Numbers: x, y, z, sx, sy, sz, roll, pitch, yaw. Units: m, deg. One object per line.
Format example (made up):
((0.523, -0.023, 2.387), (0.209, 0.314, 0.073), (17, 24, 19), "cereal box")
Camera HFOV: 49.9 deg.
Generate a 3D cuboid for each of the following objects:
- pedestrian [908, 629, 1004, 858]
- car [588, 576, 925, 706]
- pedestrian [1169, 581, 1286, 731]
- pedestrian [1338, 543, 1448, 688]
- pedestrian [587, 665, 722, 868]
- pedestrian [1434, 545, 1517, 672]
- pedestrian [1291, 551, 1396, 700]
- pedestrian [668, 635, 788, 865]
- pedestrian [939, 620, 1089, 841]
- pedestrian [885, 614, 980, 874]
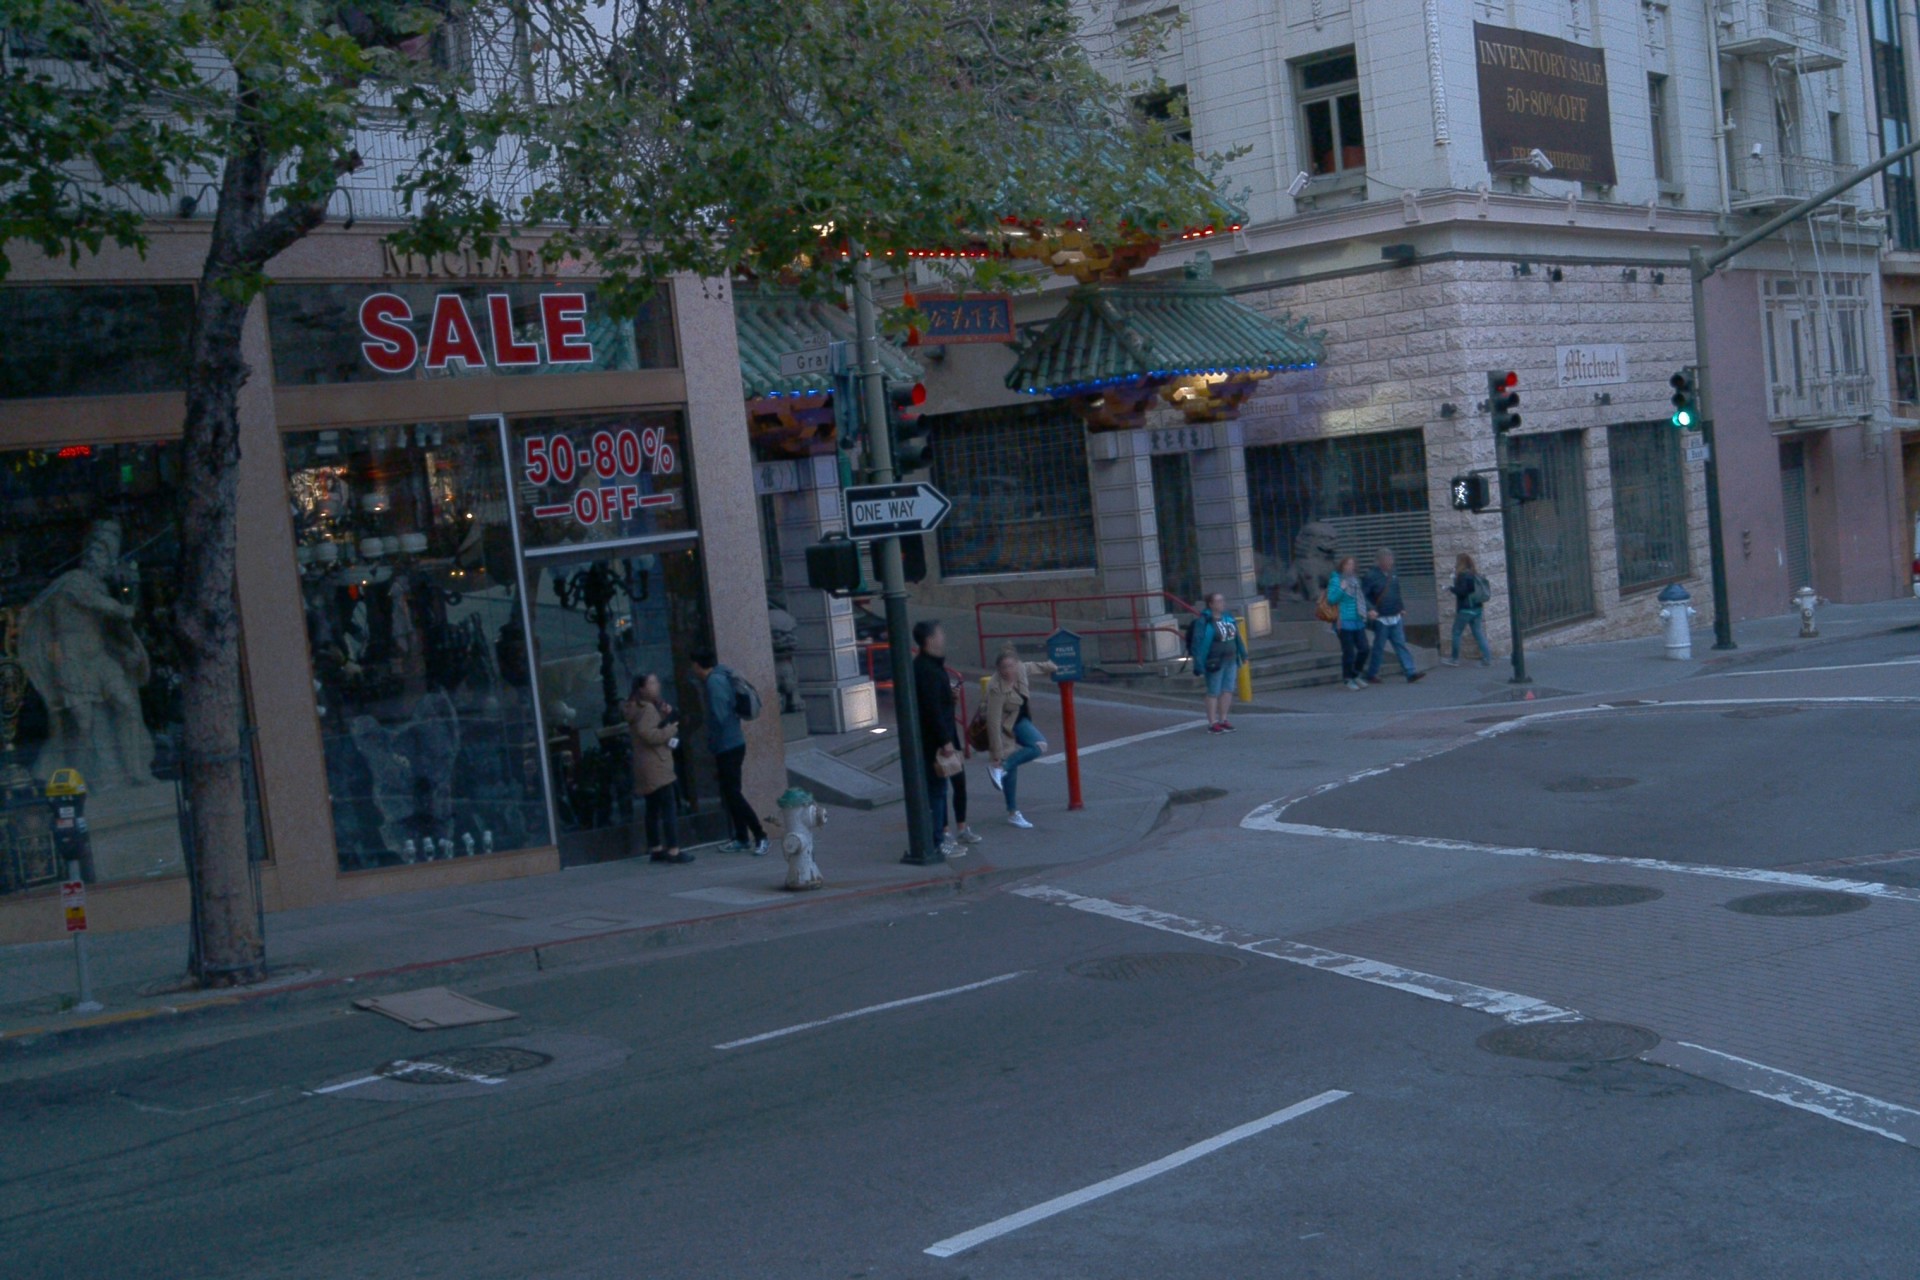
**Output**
((-0.033, 0.852, 17.393), (0.531, 1.880, 0.637), (0, 1, 37), "pedestrian")
((-2.880, -0.014, 28.508), (4.646, 1.640, 2.155), (1, 1, 44), "car")
((3.125, 0.175, 24.161), (0.976, 1.710, 0.985), (-1, 1, -26), "pedestrian")
((5.554, -0.320, 26.525), (0.964, 1.820, 1.000), (-1, 1, -30), "pedestrian")
((-2.484, 1.007, 16.816), (0.787, 1.580, 0.745), (0, 1, 34), "pedestrian")
((6.897, -0.424, 27.630), (0.818, 1.660, 0.754), (1, 1, 42), "pedestrian")
((4.875, -0.183, 26.256), (0.927, 1.850, 0.934), (-1, 1, -33), "pedestrian")
((-1.968, 0.905, 17.479), (0.724, 1.880, 0.716), (-1, 1, -40), "pedestrian")
((0.481, 0.767, 18.248), (0.817, 1.880, 1.093), (1, 1, 40), "pedestrian")
((-0.224, 0.823, 16.804), (0.546, 2.070, 0.610), (0, 1, 27), "pedestrian")
